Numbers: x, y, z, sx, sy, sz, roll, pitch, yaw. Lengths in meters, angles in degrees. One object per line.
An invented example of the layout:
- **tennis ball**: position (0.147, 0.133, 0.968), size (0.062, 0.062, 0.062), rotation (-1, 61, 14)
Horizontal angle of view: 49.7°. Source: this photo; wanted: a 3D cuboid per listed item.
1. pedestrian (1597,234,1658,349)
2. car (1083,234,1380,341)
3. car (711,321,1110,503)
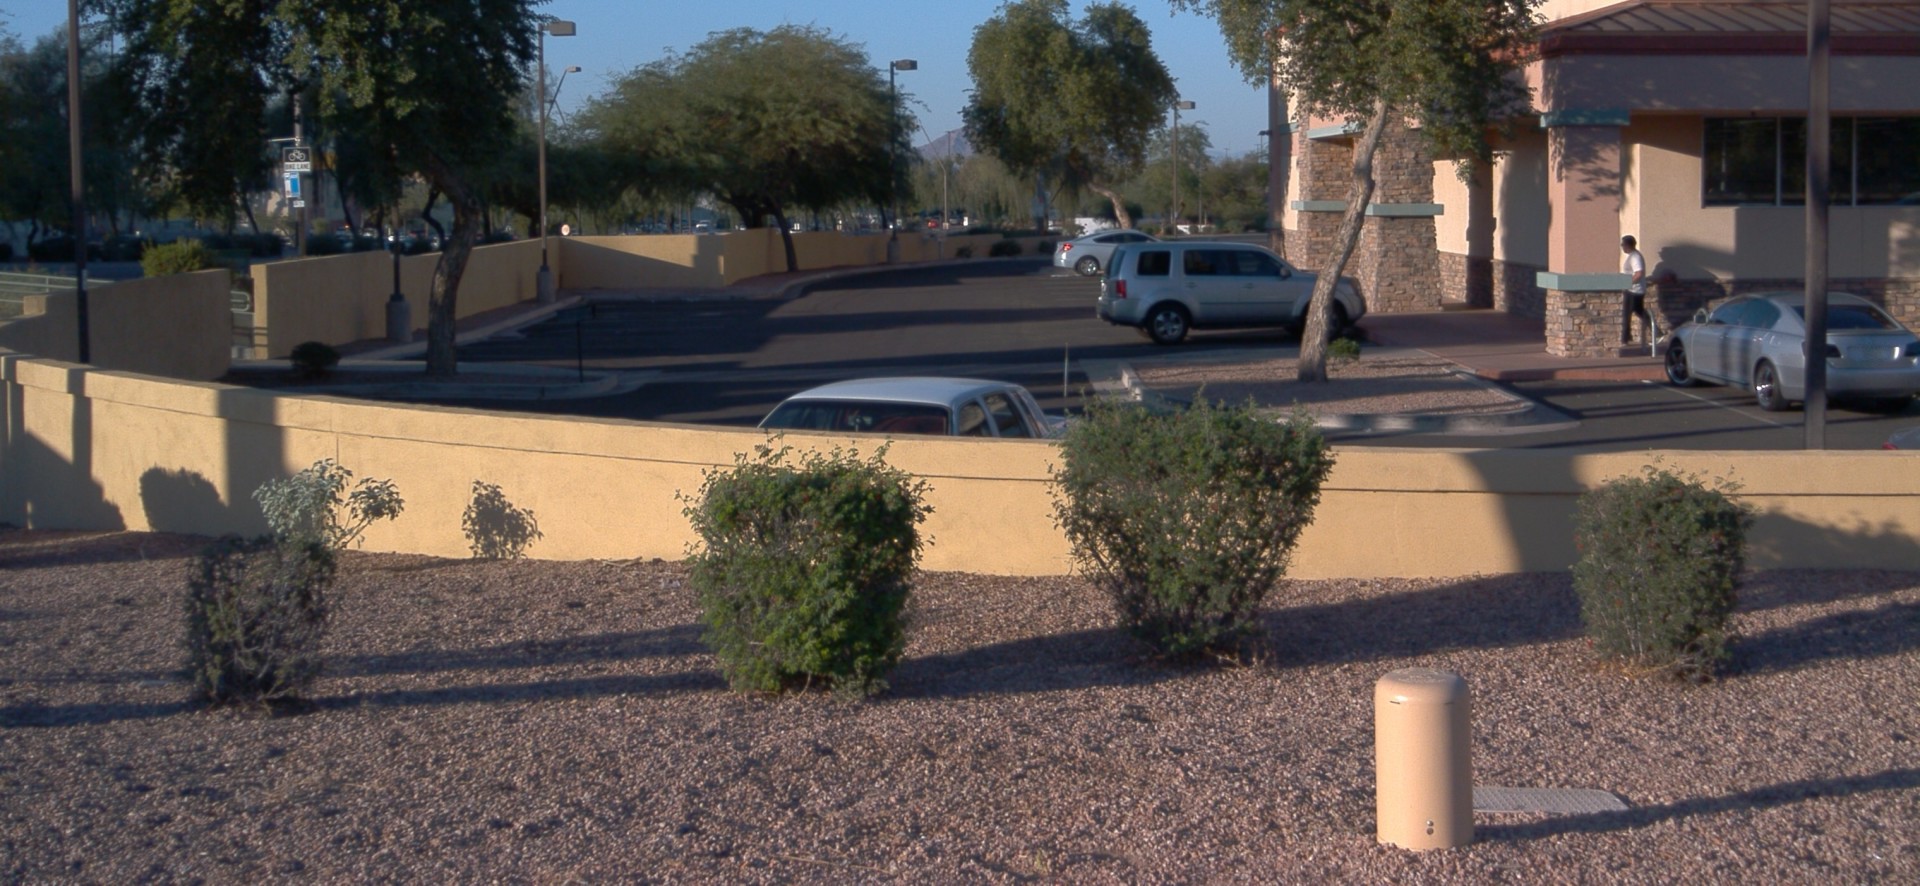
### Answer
- **pedestrian**: position (10.599, -2.418, 32.940), size (0.825, 1.802, 0.749), rotation (1, 1, 26)
- **car**: position (4.852, -2.839, 37.463), size (4.991, 1.846, 2.164), rotation (-1, 4, -6)
- **car**: position (-0.258, -0.346, 16.867), size (1.917, 1.095, 3.965), rotation (2, 6, 20)
